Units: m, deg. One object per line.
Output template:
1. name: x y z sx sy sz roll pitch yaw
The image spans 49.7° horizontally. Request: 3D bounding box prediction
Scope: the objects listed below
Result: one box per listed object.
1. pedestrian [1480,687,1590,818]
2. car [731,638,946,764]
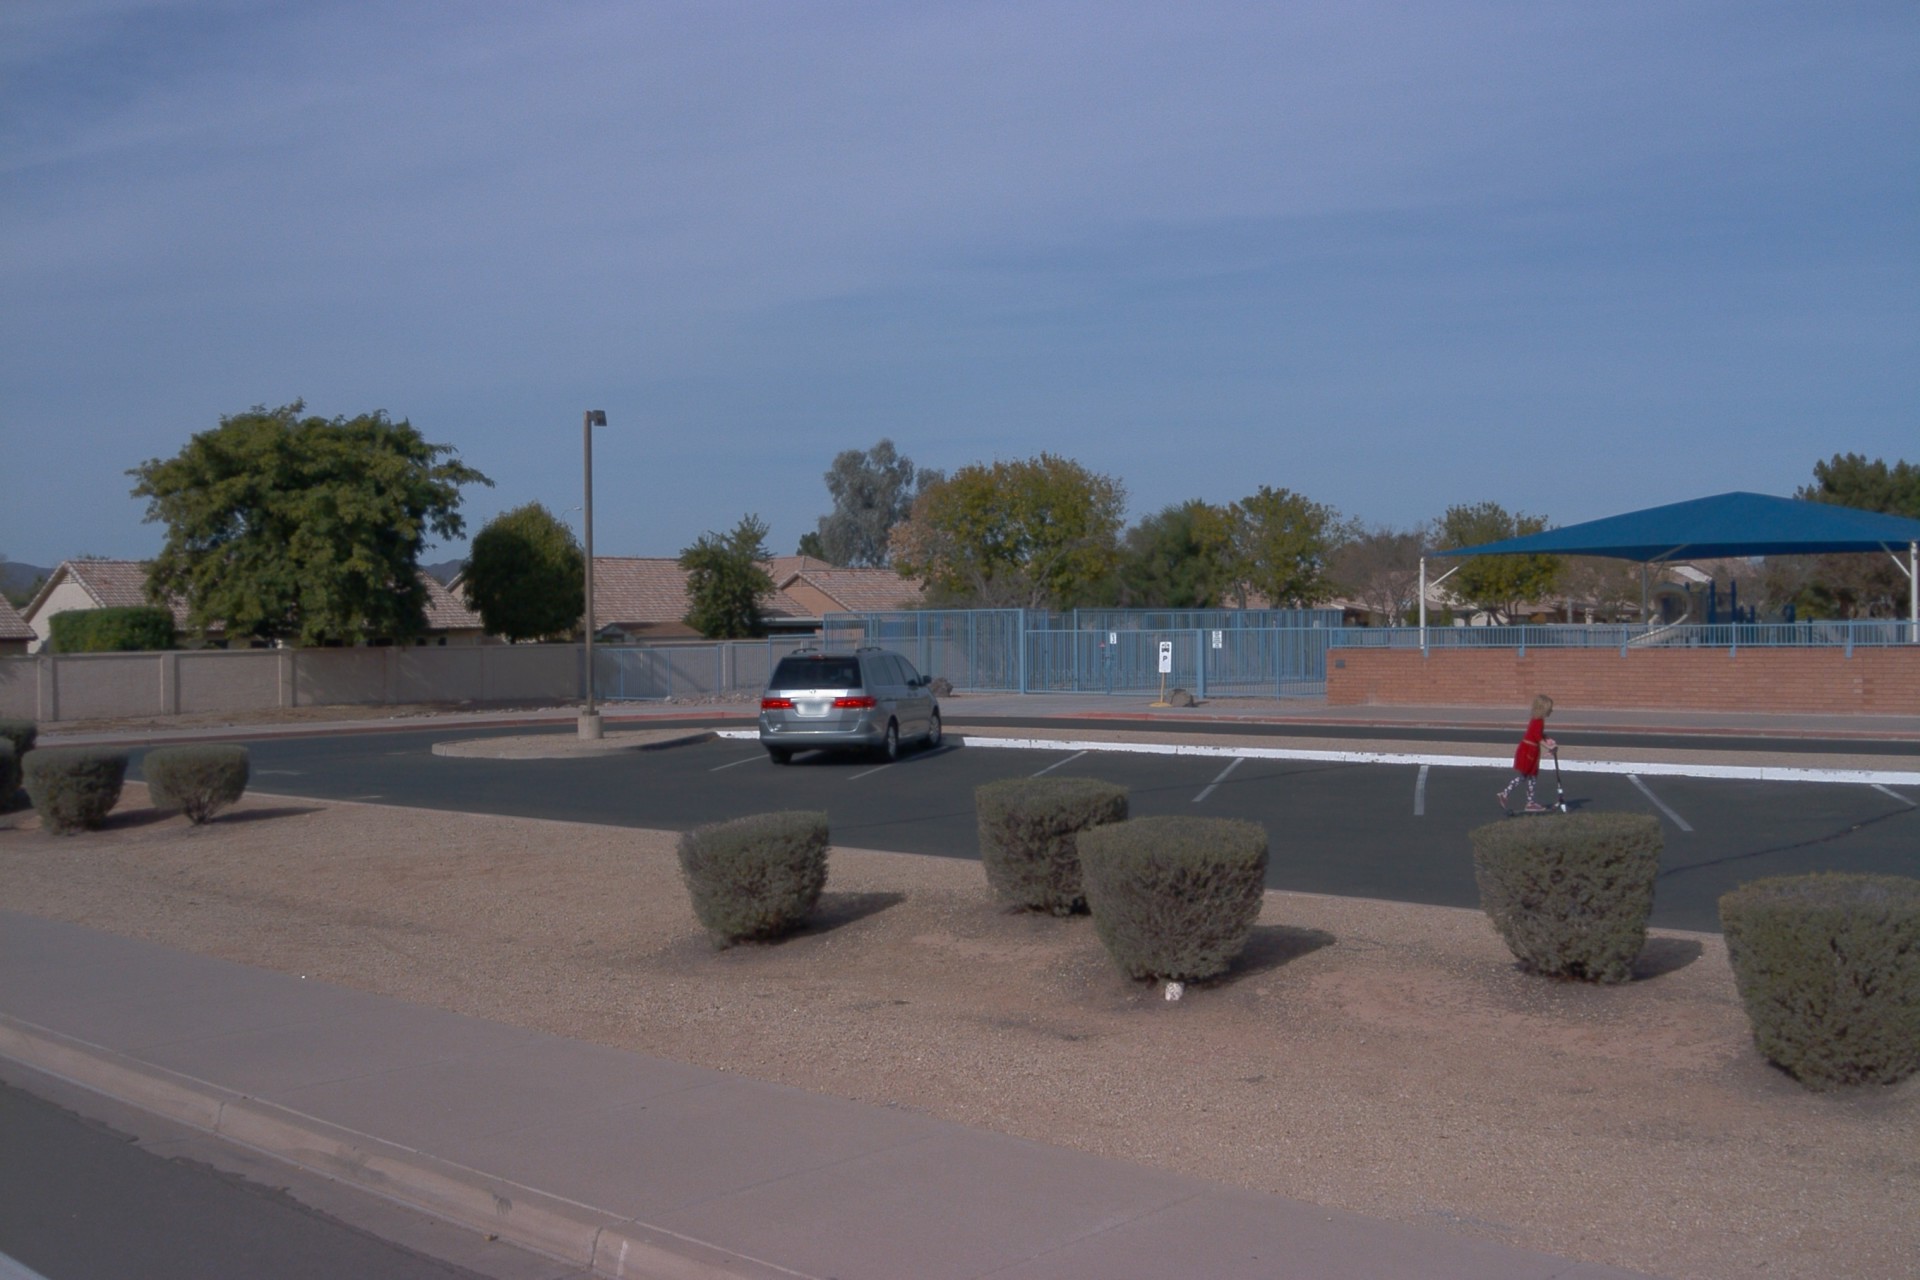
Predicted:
1. pedestrian: 6.128 1.180 22.052 1.100 1.350 0.613 0 -1 19
2. car: -1.844 0.944 33.393 2.252 1.860 4.995 0 -1 12
